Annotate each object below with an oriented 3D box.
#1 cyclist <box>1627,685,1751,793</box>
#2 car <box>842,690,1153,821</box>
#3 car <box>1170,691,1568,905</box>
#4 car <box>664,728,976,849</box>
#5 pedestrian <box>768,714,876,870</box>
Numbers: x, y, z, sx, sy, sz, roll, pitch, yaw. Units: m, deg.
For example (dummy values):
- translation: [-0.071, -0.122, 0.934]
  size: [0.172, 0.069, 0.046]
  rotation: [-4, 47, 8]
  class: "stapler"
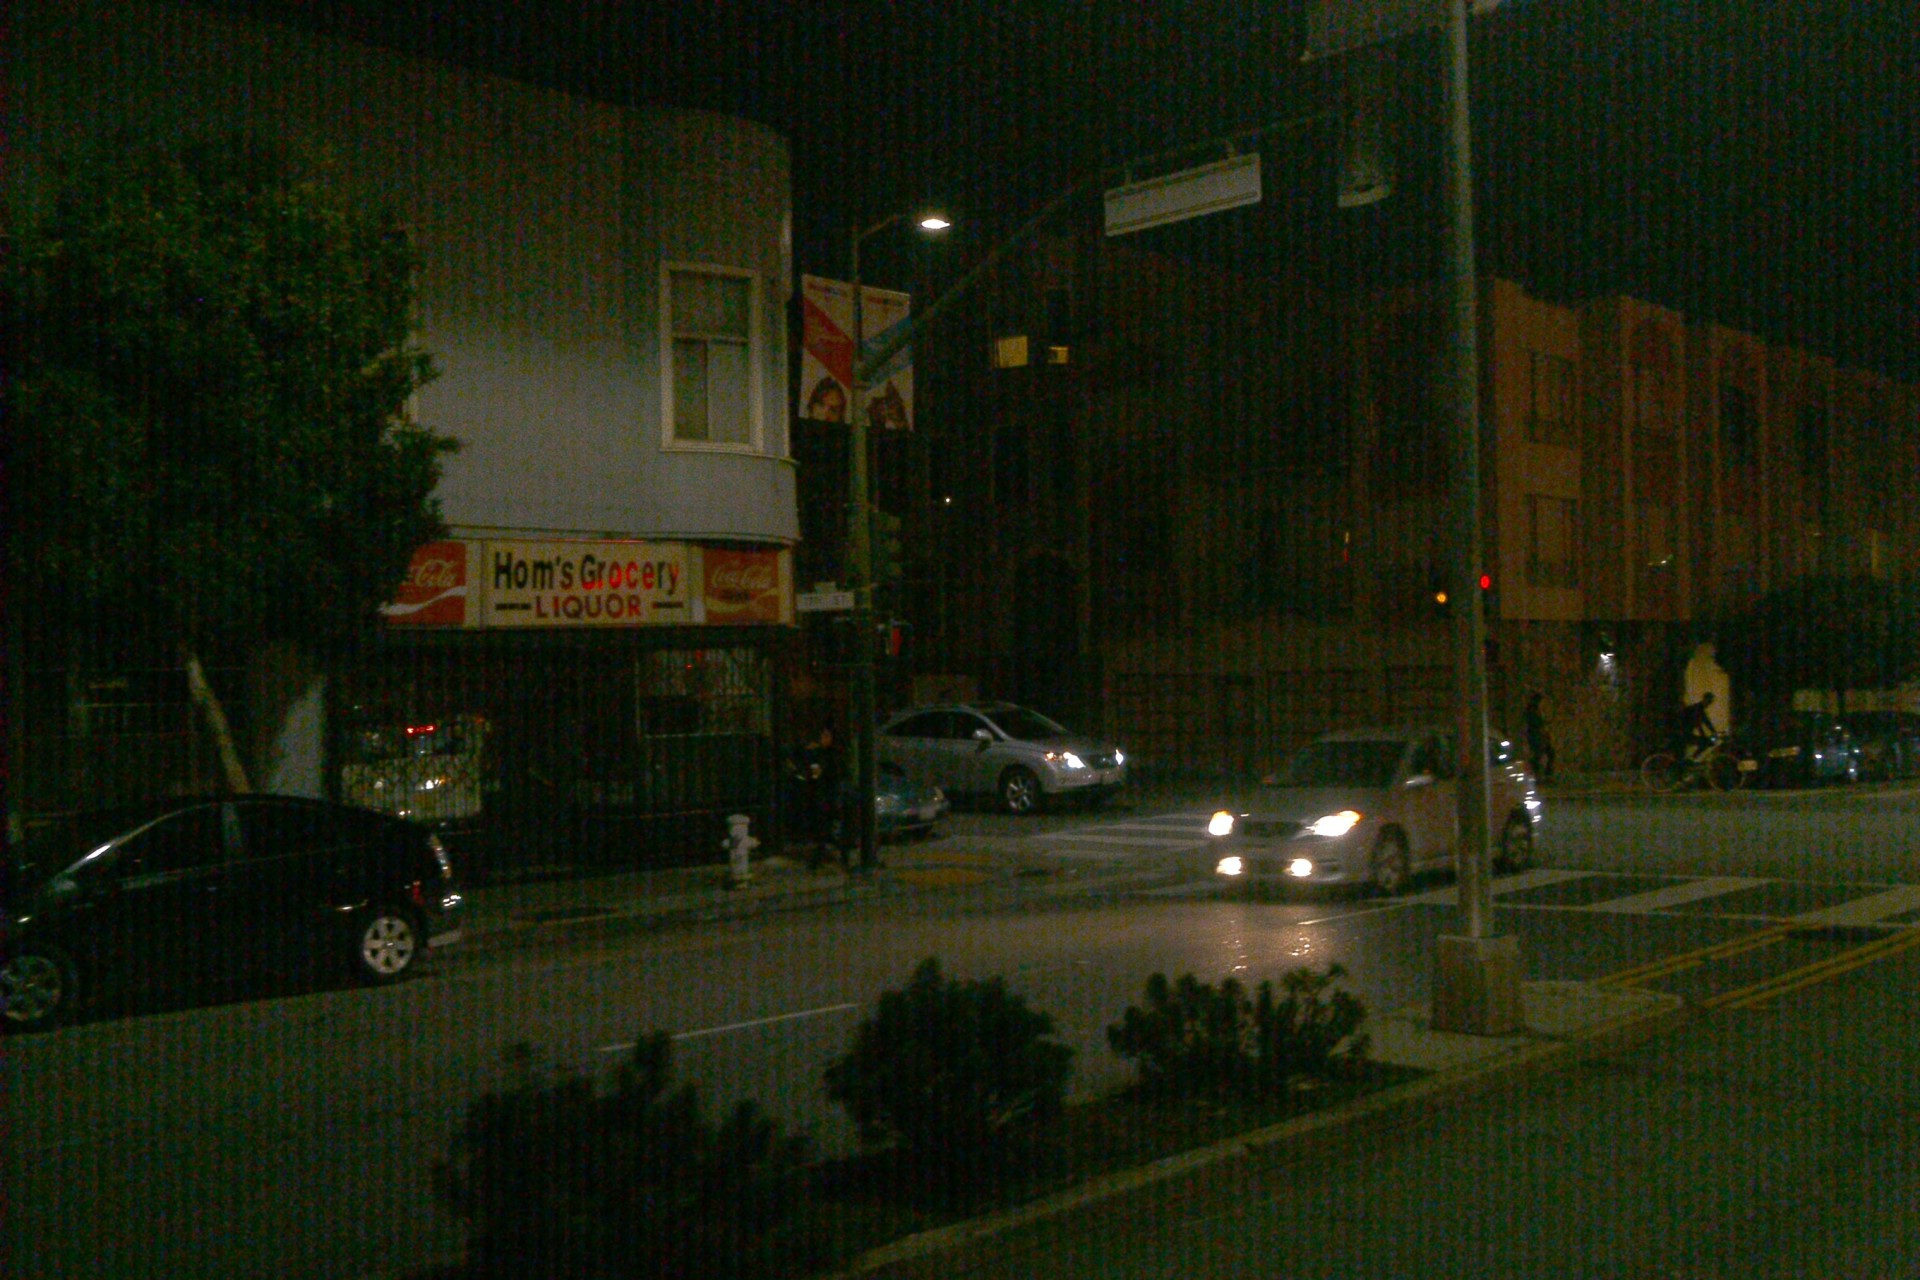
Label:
- translation: [12.615, 1.687, 35.741]
  size: [1.897, 1.760, 0.831]
  rotation: [1, 0, 26]
  class: "cyclist"
- translation: [0.543, 1.760, 32.805]
  size: [4.614, 1.760, 2.139]
  rotation: [1, 0, 41]
  class: "car"
- translation: [4.172, 1.461, 20.586]
  size: [1.926, 1.790, 4.344]
  rotation: [1, 0, 41]
  class: "car"
- translation: [-2.040, 2.052, 29.423]
  size: [4.278, 1.350, 1.946]
  rotation: [1, 0, 41]
  class: "car"
- translation: [-1.589, 1.726, 23.764]
  size: [0.867, 1.690, 0.829]
  rotation: [1, 0, 39]
  class: "pedestrian"
